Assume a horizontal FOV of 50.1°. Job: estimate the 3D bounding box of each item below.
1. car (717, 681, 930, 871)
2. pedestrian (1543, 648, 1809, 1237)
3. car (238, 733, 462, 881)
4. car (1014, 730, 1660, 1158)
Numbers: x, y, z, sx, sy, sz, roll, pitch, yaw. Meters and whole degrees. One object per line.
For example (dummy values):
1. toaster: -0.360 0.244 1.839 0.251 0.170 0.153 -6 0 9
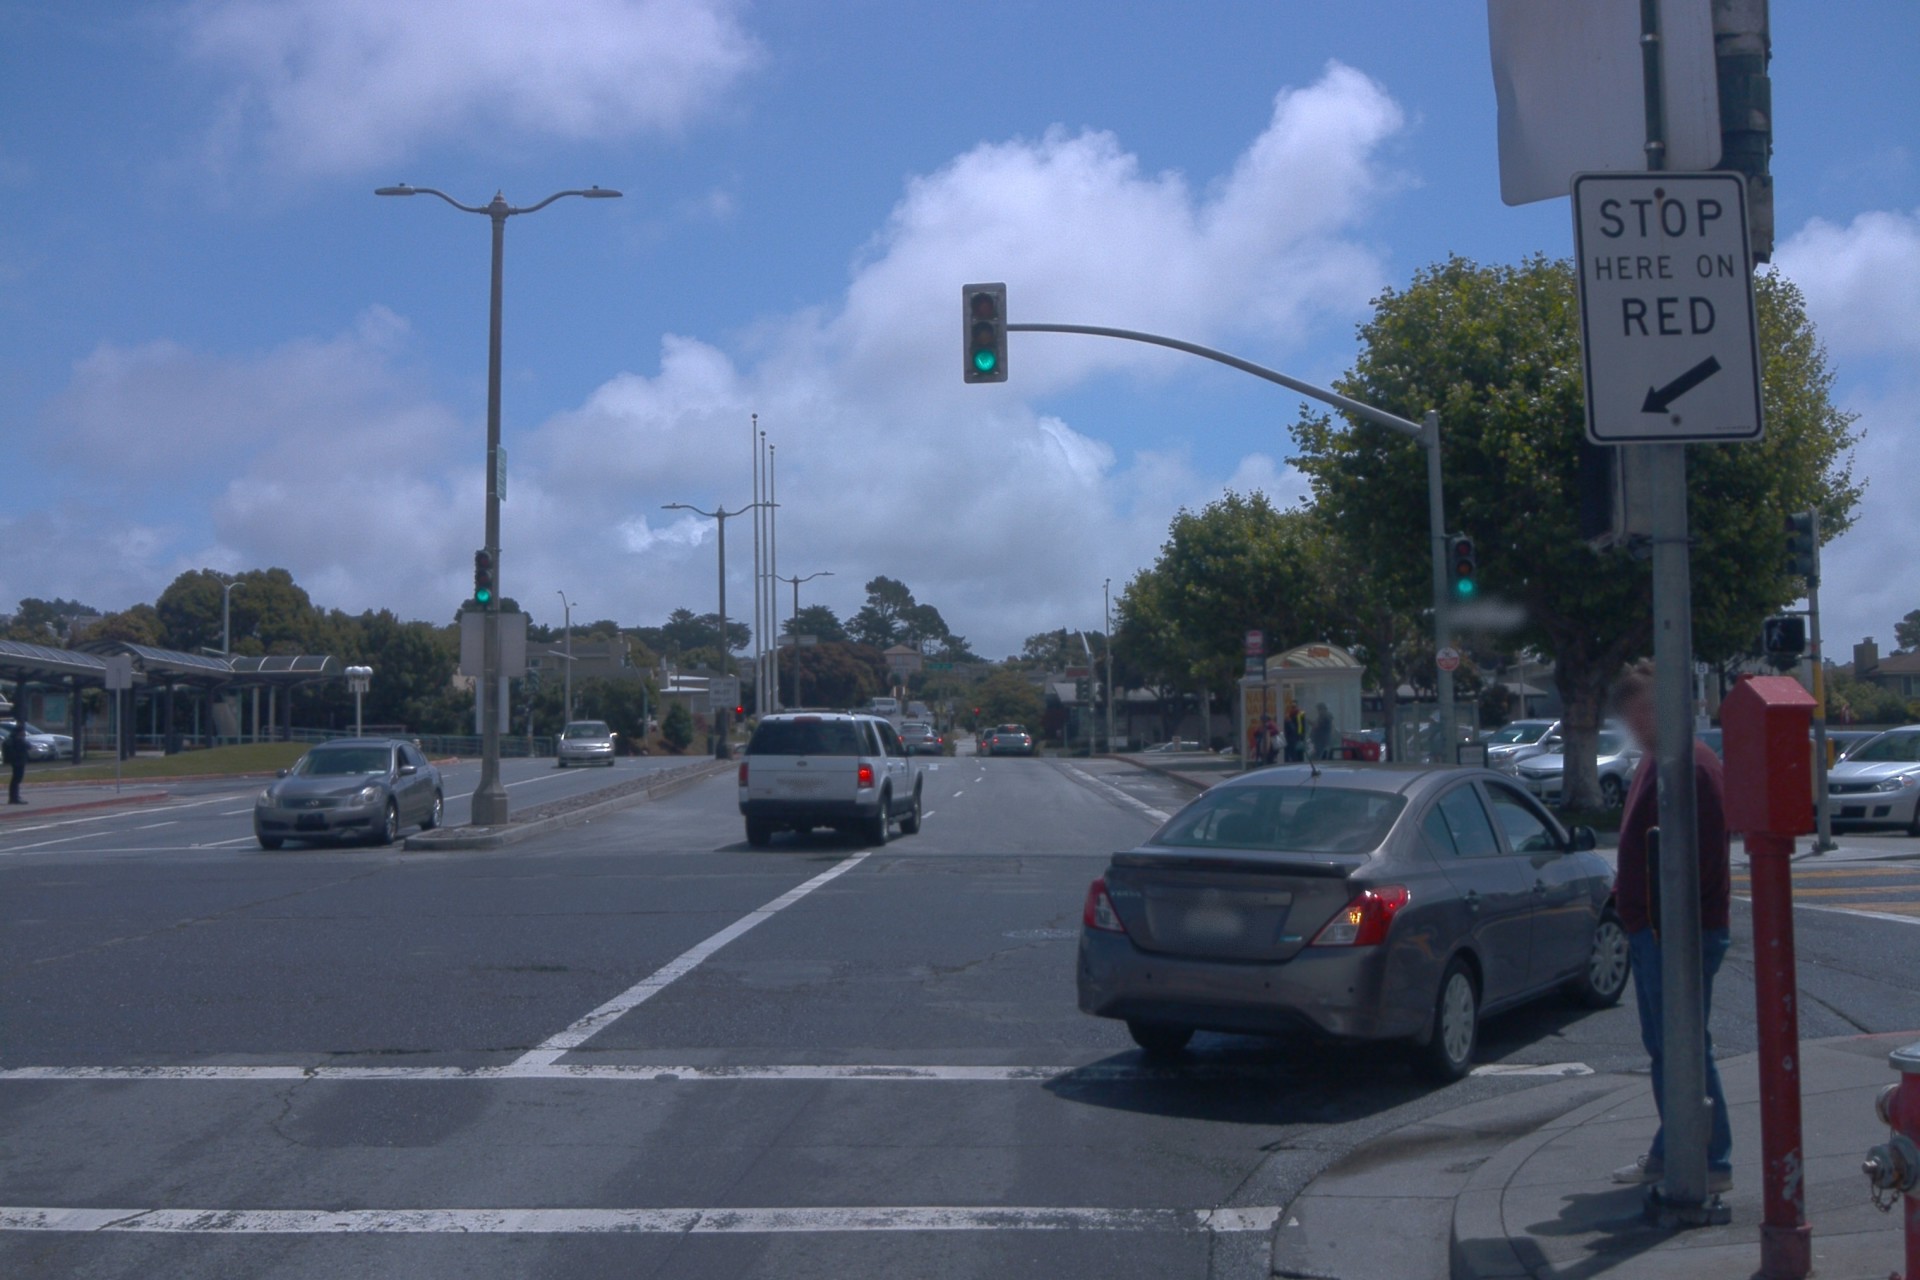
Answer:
1. car: -1.741 1.740 27.942 2.038 2.200 4.657 0 1 7
2. pedestrian: 2.459 0.990 7.135 0.595 1.910 0.830 0 1 -3
3. car: -8.640 2.310 29.556 1.950 1.680 4.714 0 1 -2
4. car: 2.232 1.409 11.128 1.948 1.580 4.211 0 1 33
